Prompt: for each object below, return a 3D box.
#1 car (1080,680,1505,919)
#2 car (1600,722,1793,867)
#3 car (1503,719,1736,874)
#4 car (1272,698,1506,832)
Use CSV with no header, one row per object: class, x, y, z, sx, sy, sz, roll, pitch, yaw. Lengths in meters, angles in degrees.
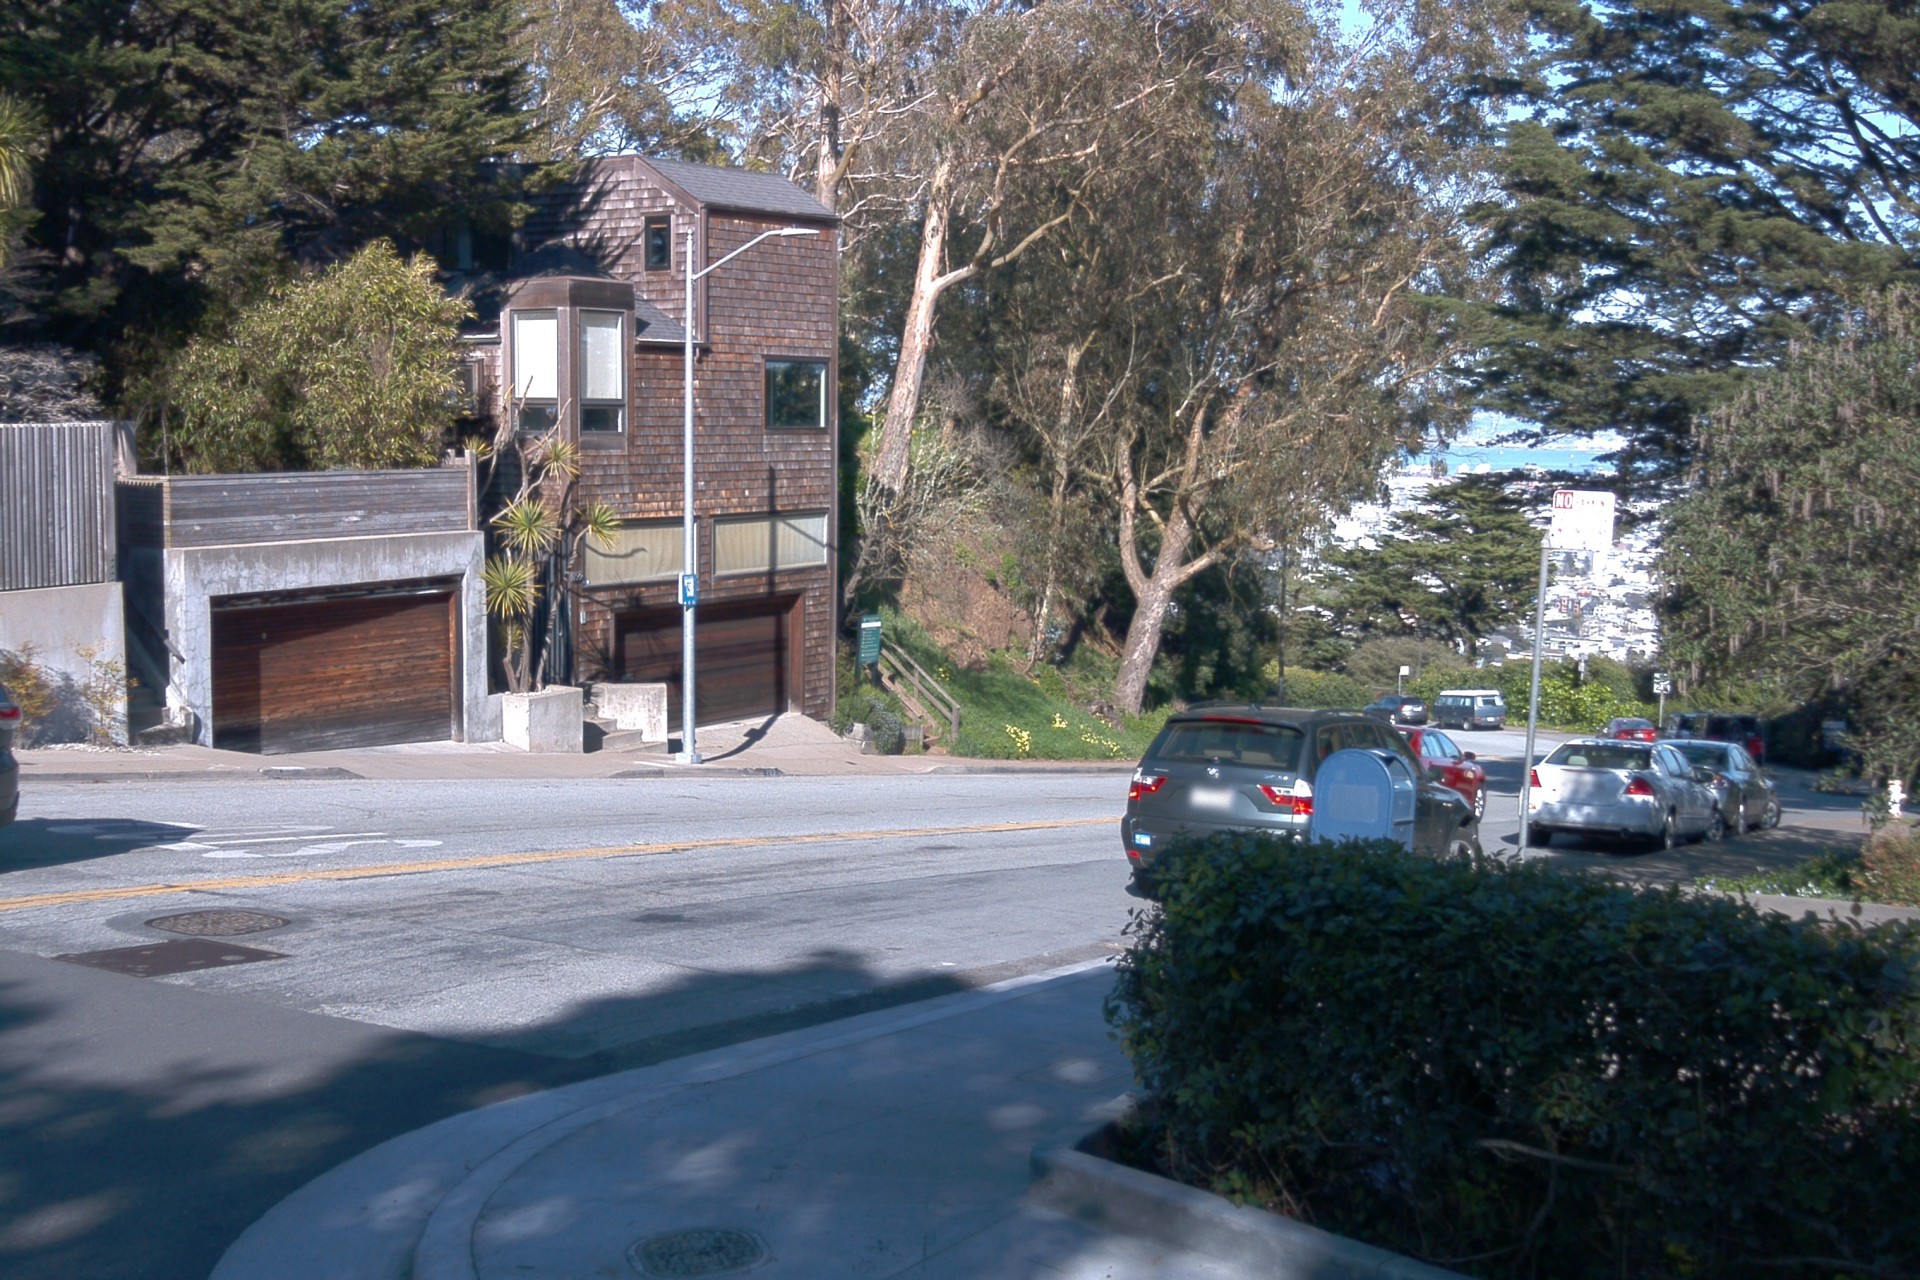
car,2.970,1.218,17.828,2.050,1.690,4.437,0,0,31
car,11.689,2.348,33.056,2.061,1.950,4.543,1,0,30
car,8.813,1.988,27.772,1.893,1.720,4.338,1,0,32
car,6.409,1.757,30.874,2.009,1.700,4.768,1,0,29
